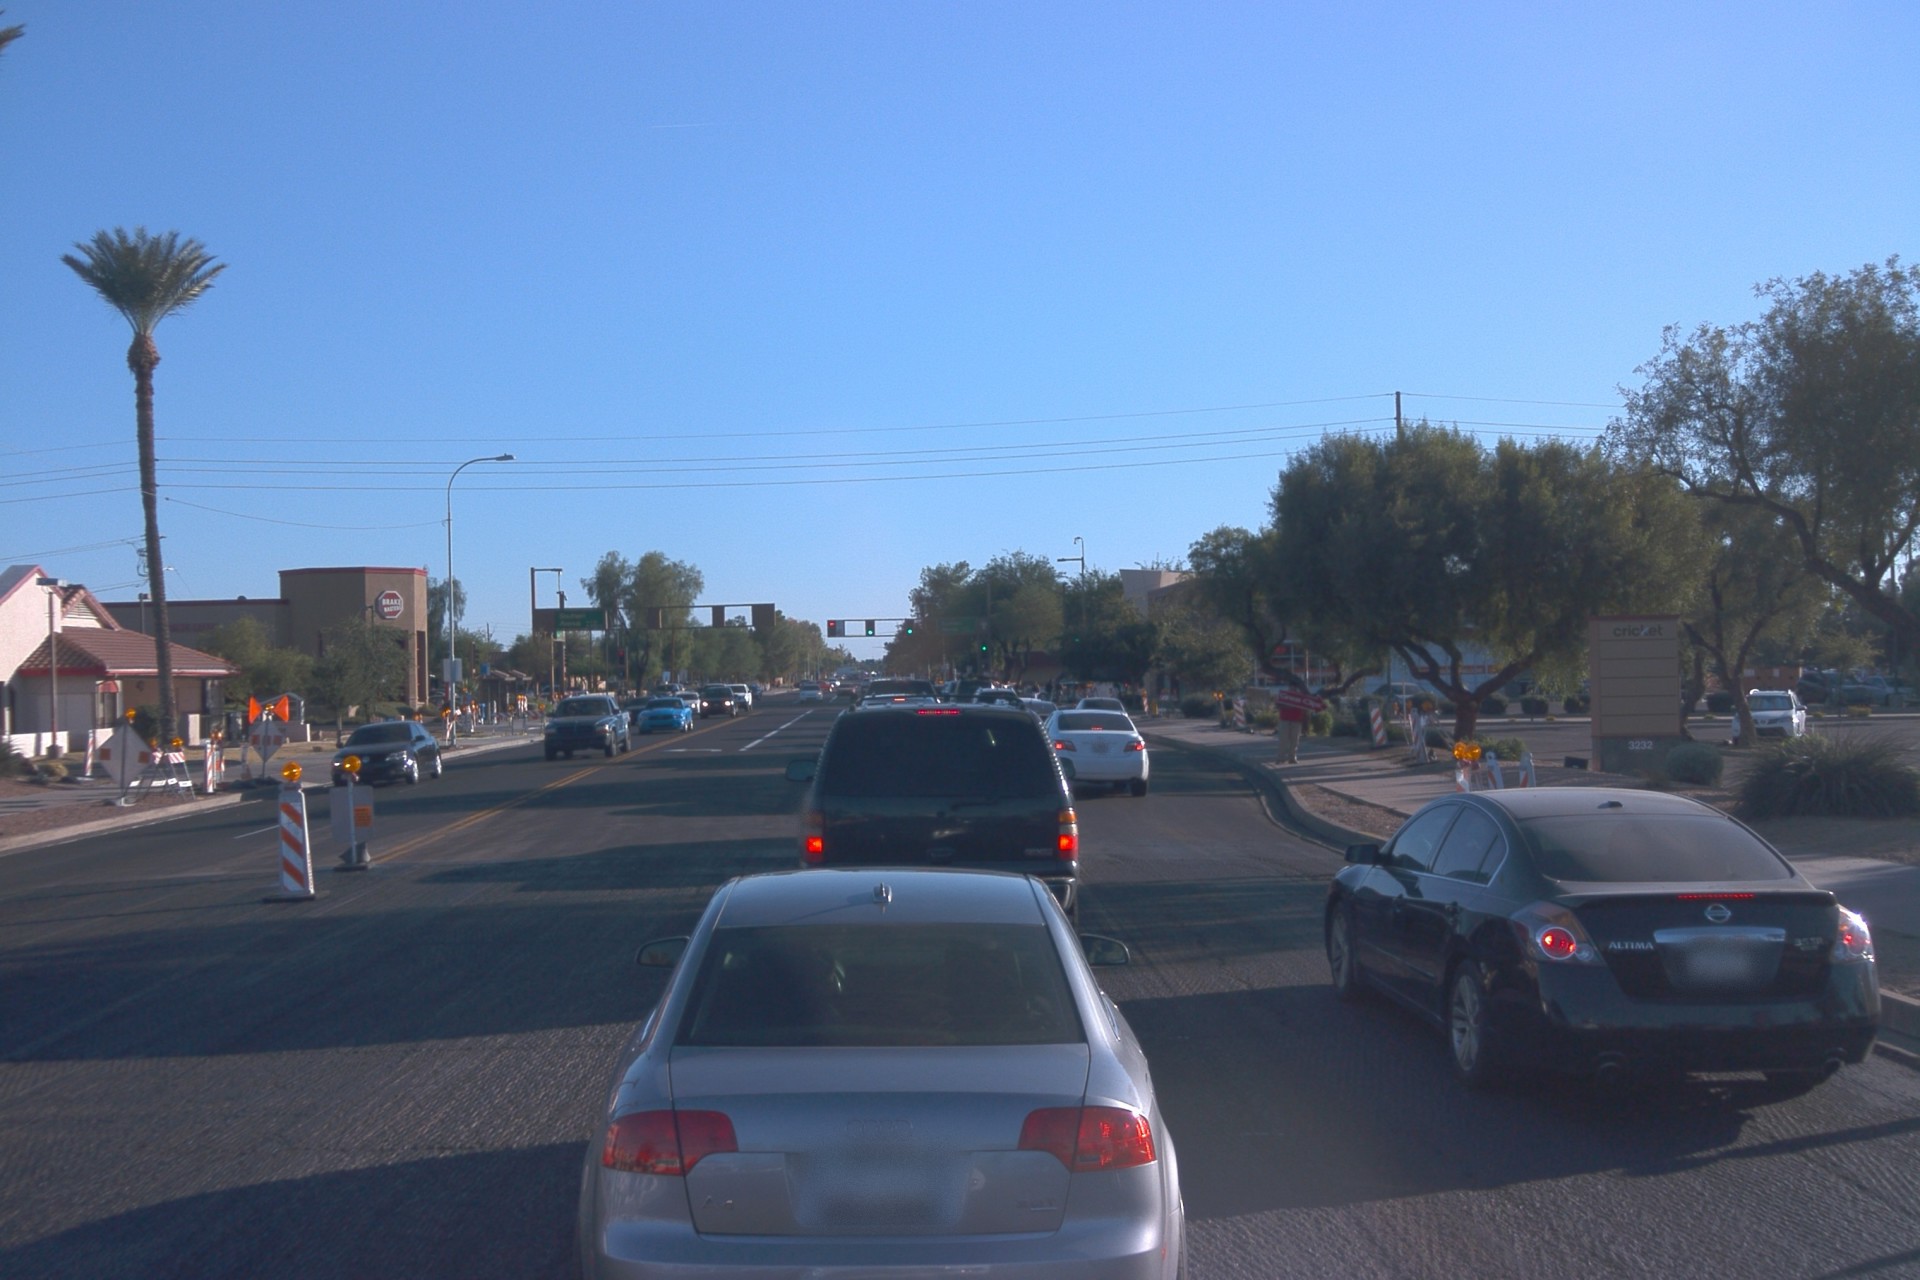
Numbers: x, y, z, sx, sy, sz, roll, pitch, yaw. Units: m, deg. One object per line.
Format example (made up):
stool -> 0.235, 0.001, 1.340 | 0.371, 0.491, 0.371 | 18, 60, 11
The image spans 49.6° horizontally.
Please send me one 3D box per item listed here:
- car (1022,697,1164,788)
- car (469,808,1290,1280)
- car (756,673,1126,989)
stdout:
car -> 2.295, 1.775, 37.104 | 2.124, 1.470, 4.694 | 0, -1, -1
car -> -0.267, 1.480, 7.358 | 2.033, 1.480, 4.404 | 0, -1, -2
car -> -0.207, 1.279, 16.028 | 2.405, 2.040, 5.063 | 0, -1, -2
